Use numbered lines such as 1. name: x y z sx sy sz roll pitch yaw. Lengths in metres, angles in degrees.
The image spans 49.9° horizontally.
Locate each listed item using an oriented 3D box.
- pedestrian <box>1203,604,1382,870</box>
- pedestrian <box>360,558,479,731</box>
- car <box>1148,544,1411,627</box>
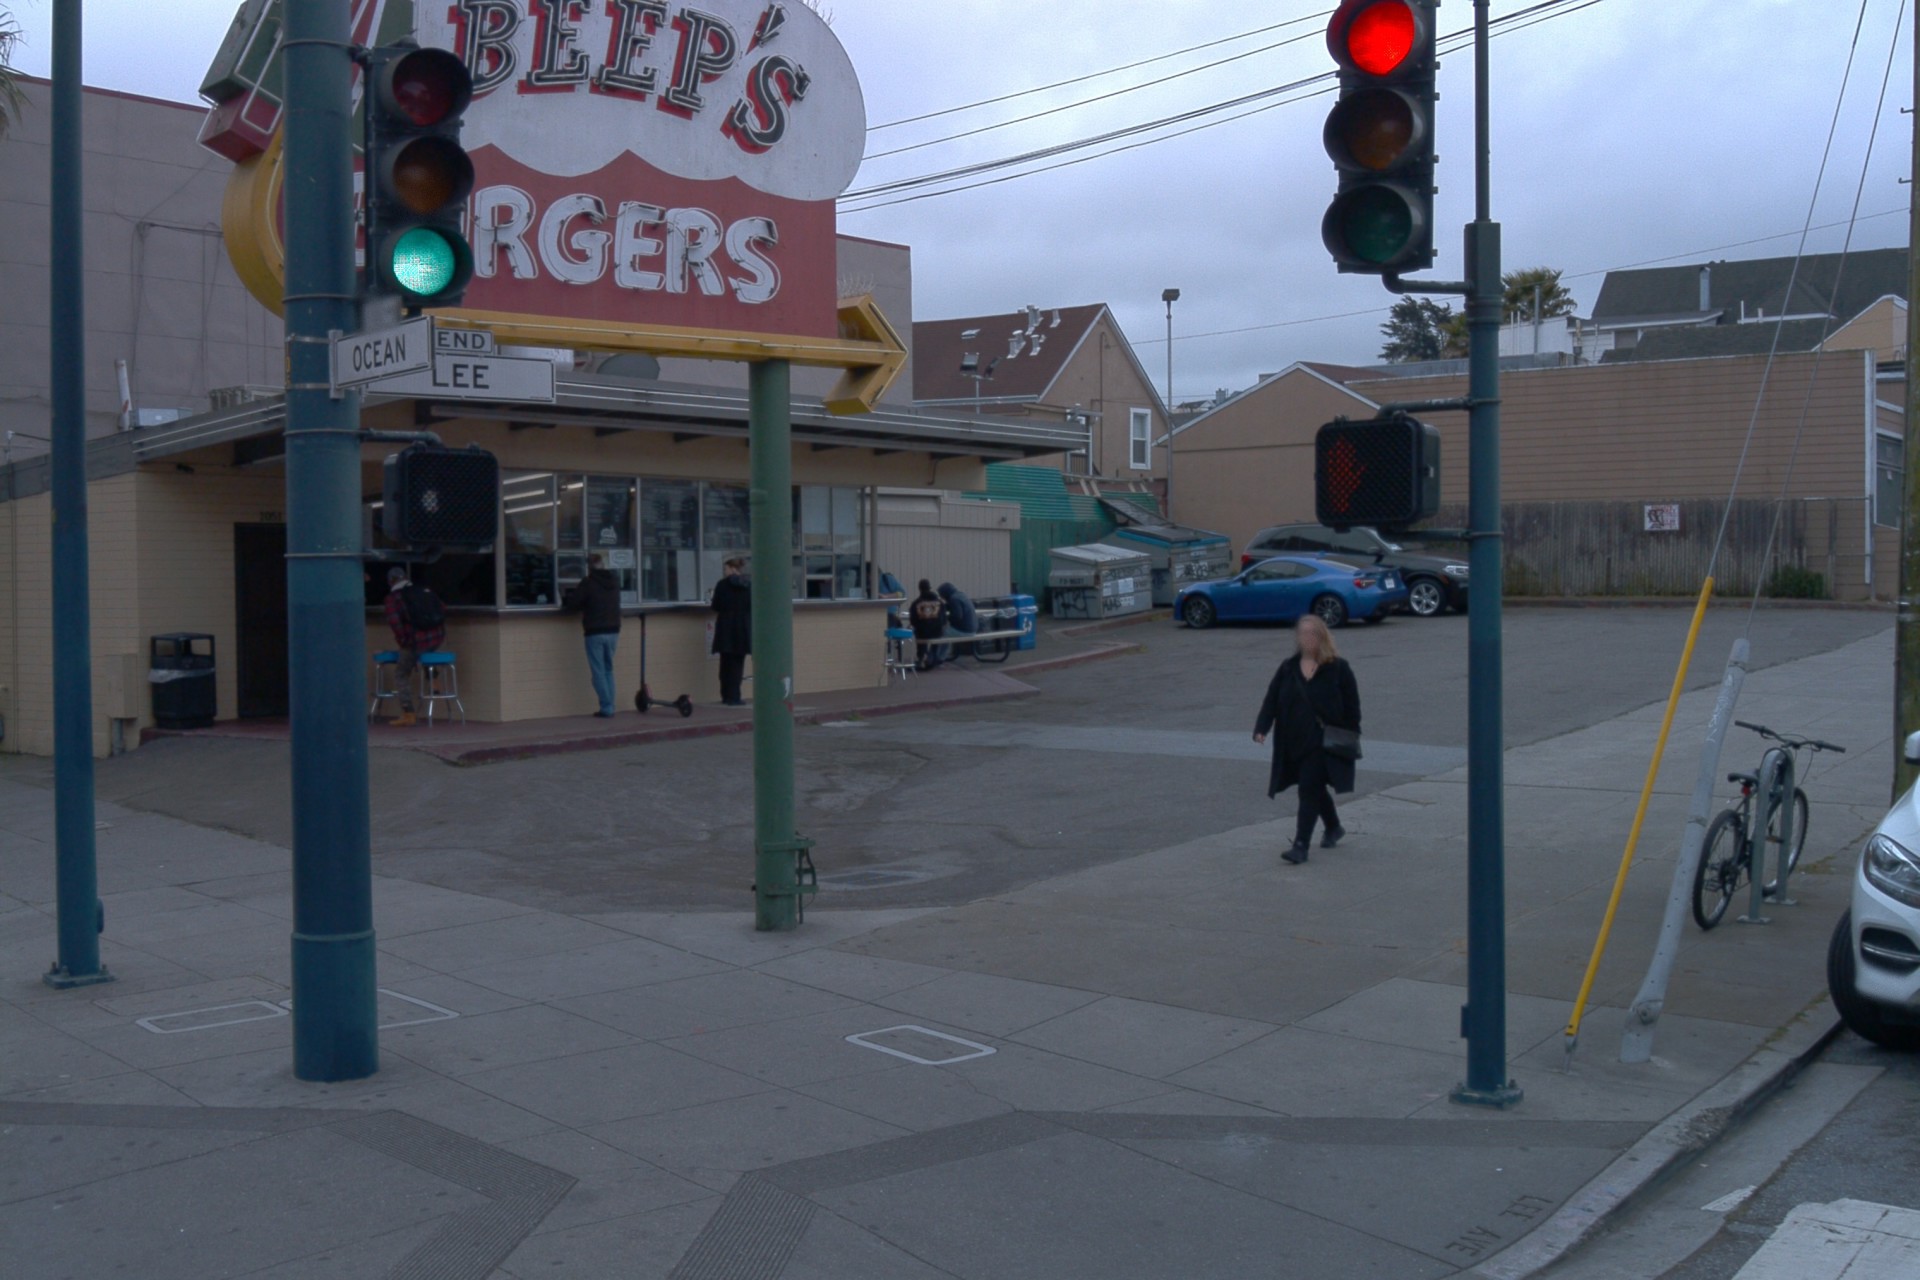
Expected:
1. pedestrian: 2.187 0.602 13.567 0.829 1.670 0.886 0 1 38
2. pedestrian: -5.509 0.038 21.062 0.863 1.710 0.814 1 1 40
3. car: 5.675 -0.937 36.887 4.209 1.400 2.020 0 1 40
